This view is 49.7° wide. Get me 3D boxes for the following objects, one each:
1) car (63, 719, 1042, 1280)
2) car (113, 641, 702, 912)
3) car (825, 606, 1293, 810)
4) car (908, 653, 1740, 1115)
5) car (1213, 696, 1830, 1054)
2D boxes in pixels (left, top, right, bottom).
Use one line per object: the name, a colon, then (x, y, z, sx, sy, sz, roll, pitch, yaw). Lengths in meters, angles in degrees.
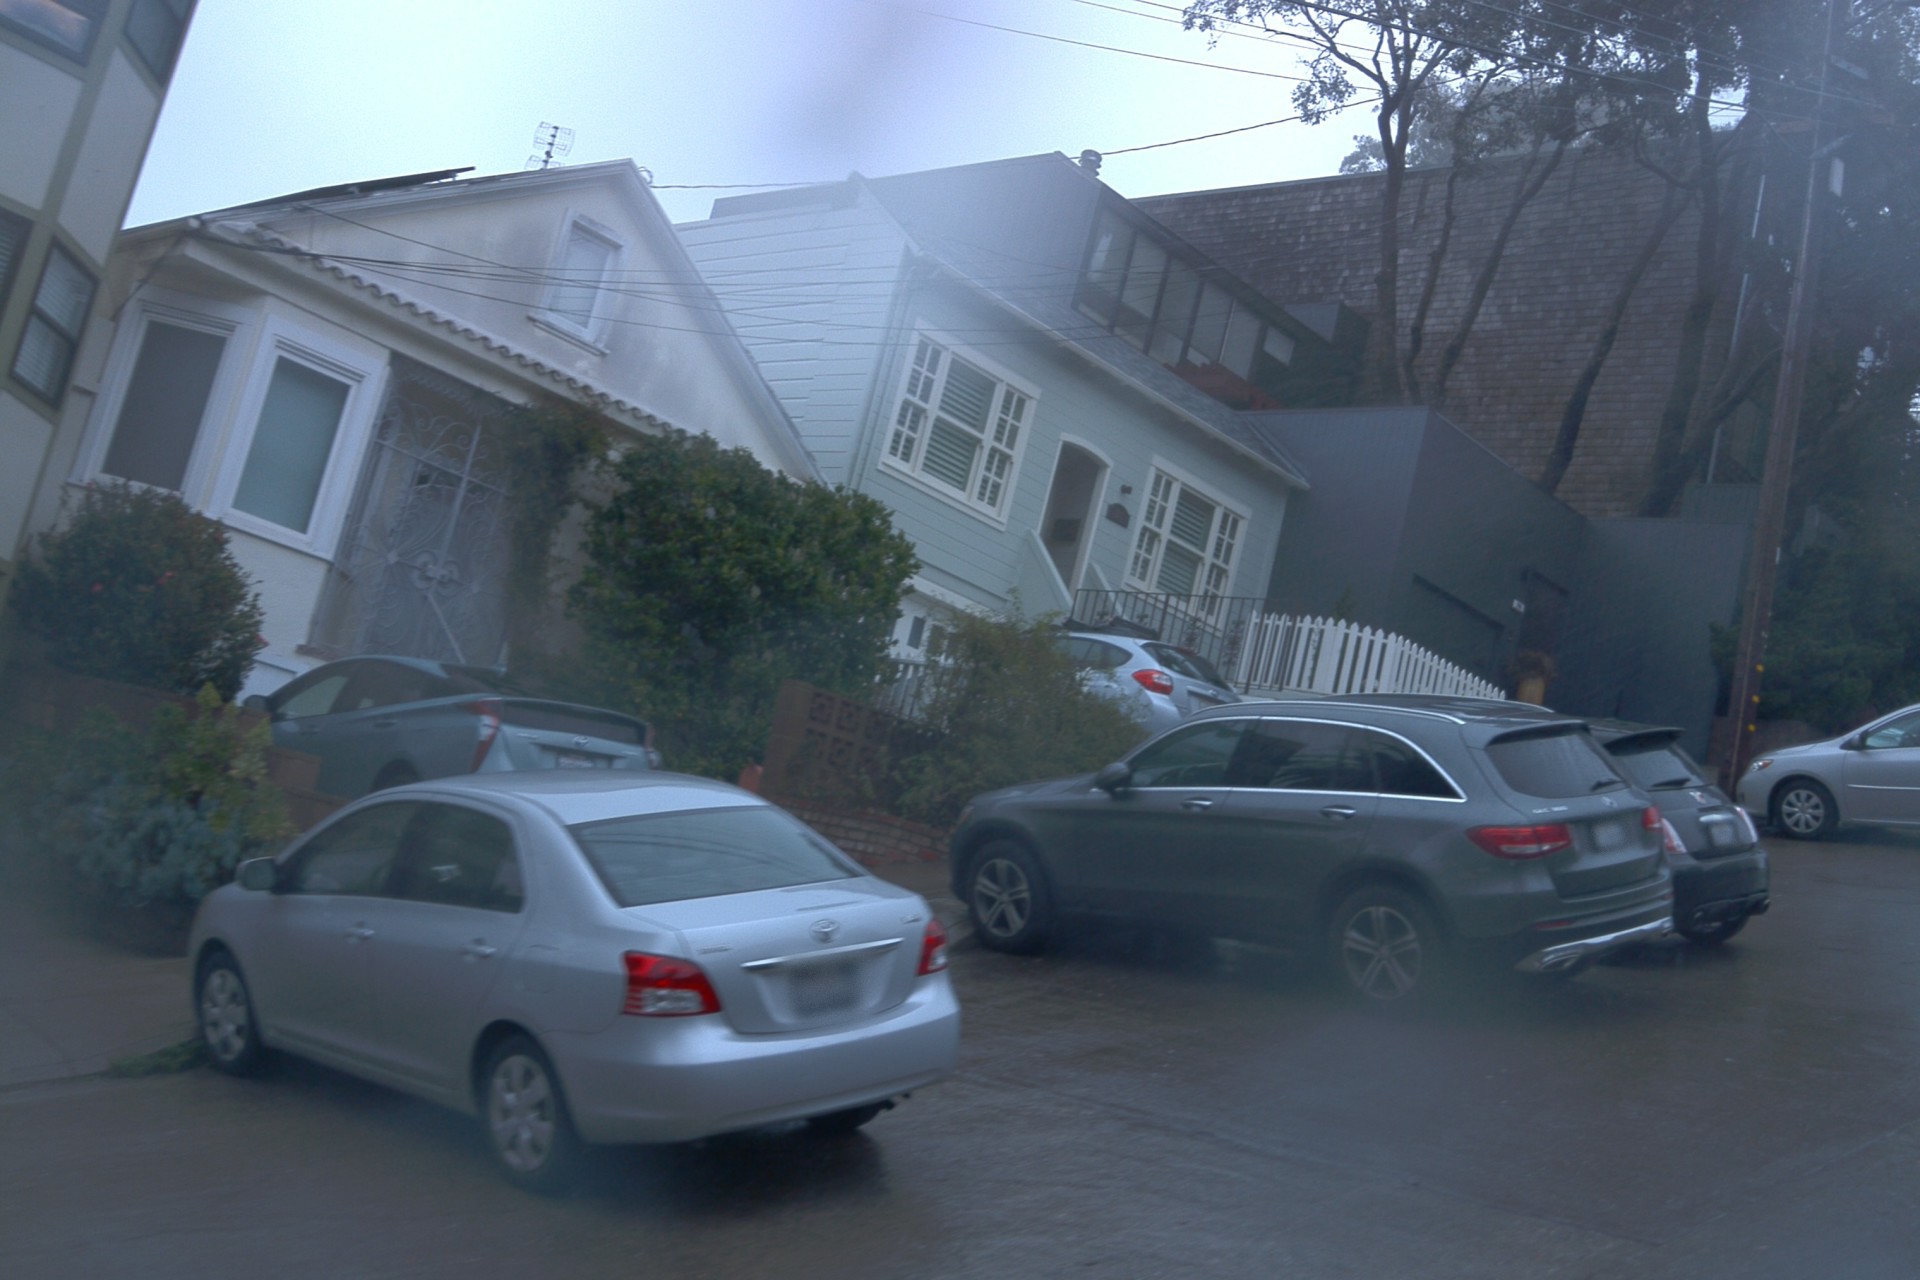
car: (-1.871, 1.341, 8.613, 2.016, 1.850, 4.143, 0, 0, -45)
car: (-4.121, 0.844, 15.032, 4.454, 1.650, 2.111, 0, 0, 44)
car: (0.908, 0.610, 20.940, 4.430, 1.830, 2.091, 0, 0, 44)
car: (2.010, 1.198, 12.413, 2.200, 2.200, 4.458, 0, 0, -44)
car: (3.763, 1.443, 14.224, 1.935, 2.000, 3.590, 0, 0, -44)
